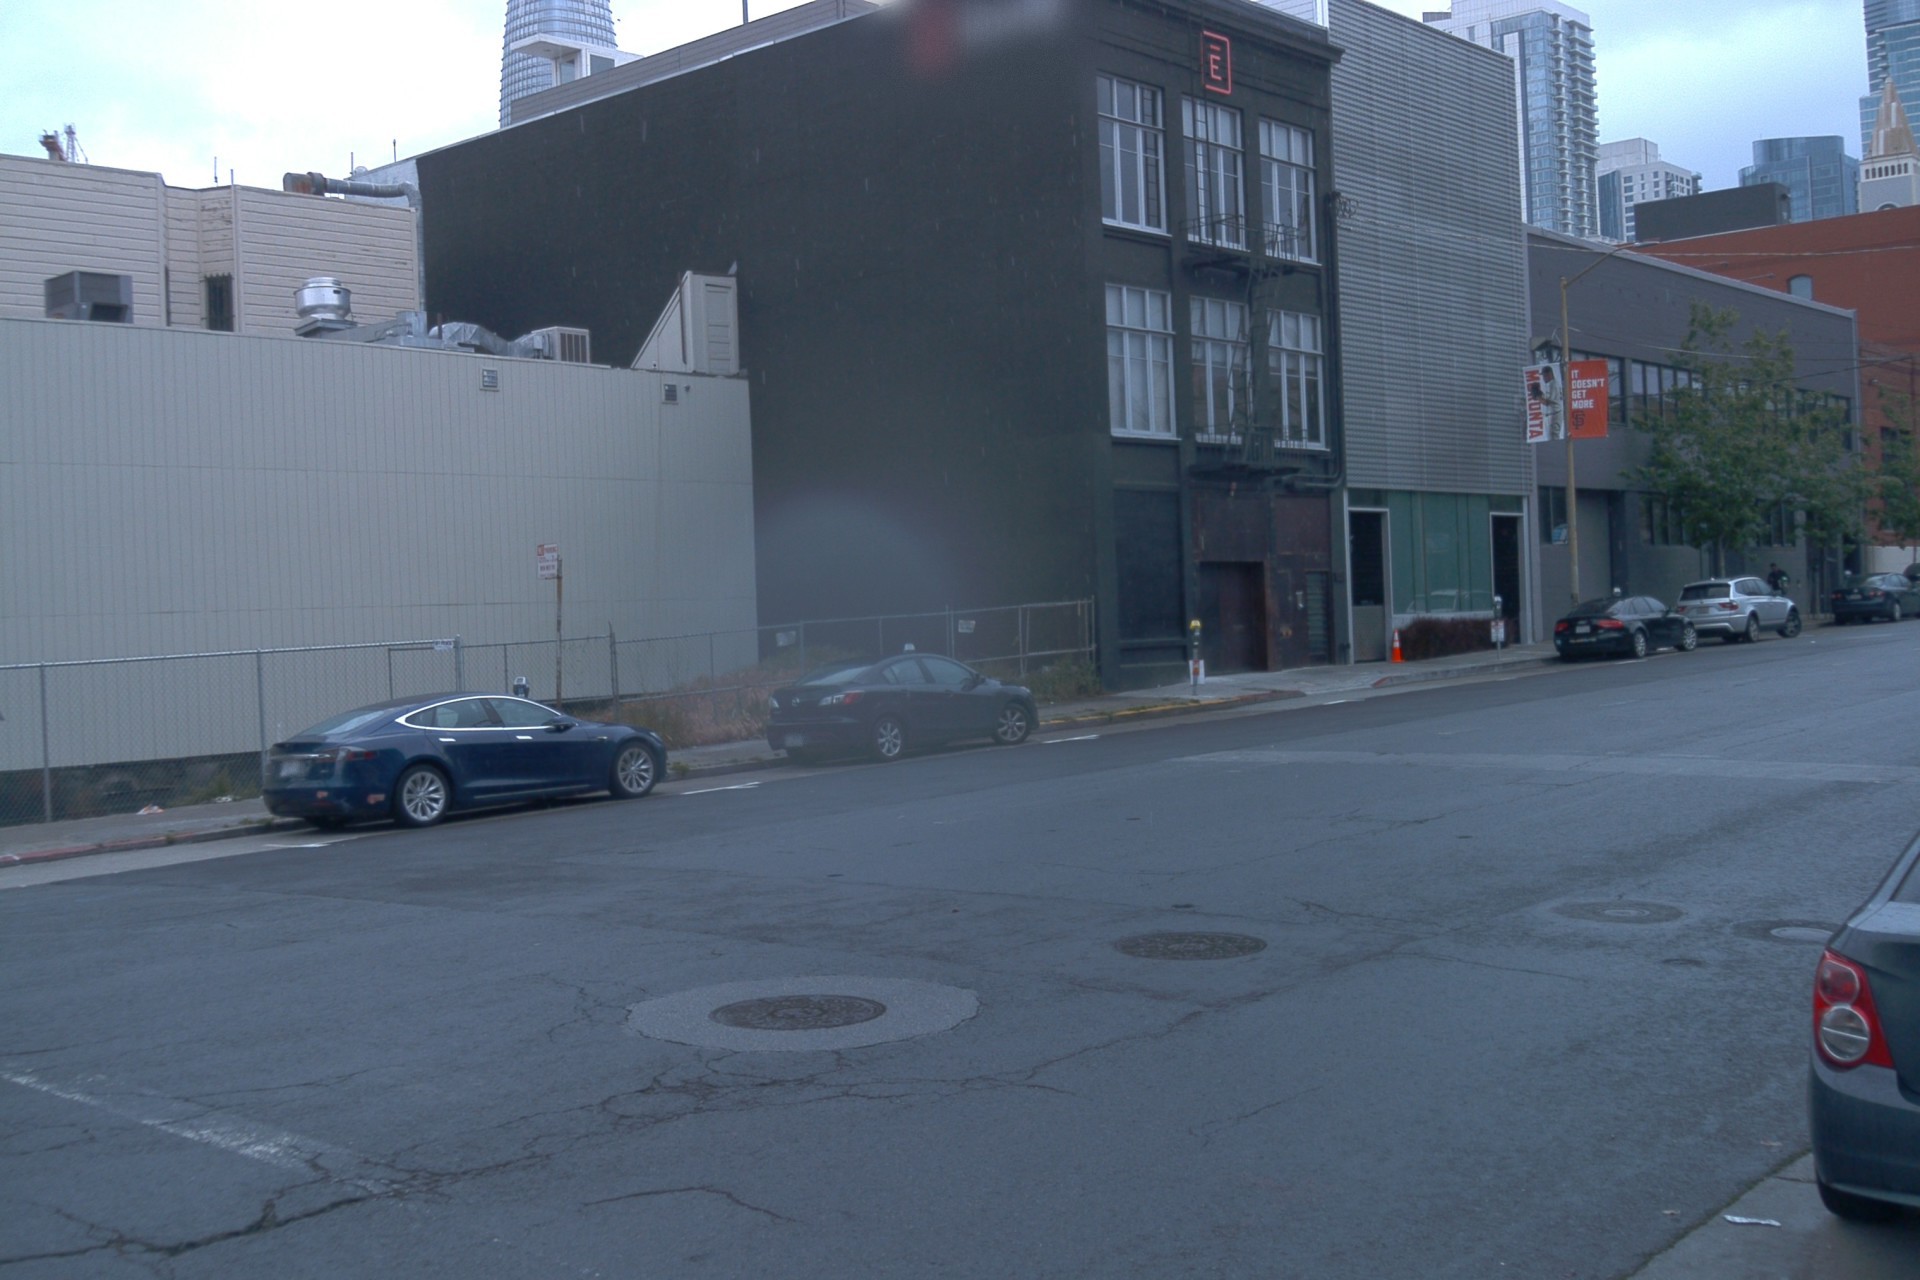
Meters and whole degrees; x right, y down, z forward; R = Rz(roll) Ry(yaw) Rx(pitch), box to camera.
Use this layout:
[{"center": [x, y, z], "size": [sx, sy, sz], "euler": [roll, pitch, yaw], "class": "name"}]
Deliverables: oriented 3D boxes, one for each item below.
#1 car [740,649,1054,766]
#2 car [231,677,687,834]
[{"center": [-0.814, 0.896, 29.026], "size": [2.005, 1.500, 4.289], "euler": [0, -1, 41], "class": "car"}, {"center": [-5.569, 1.219, 23.530], "size": [2.011, 1.550, 4.768], "euler": [0, -1, 40], "class": "car"}]
